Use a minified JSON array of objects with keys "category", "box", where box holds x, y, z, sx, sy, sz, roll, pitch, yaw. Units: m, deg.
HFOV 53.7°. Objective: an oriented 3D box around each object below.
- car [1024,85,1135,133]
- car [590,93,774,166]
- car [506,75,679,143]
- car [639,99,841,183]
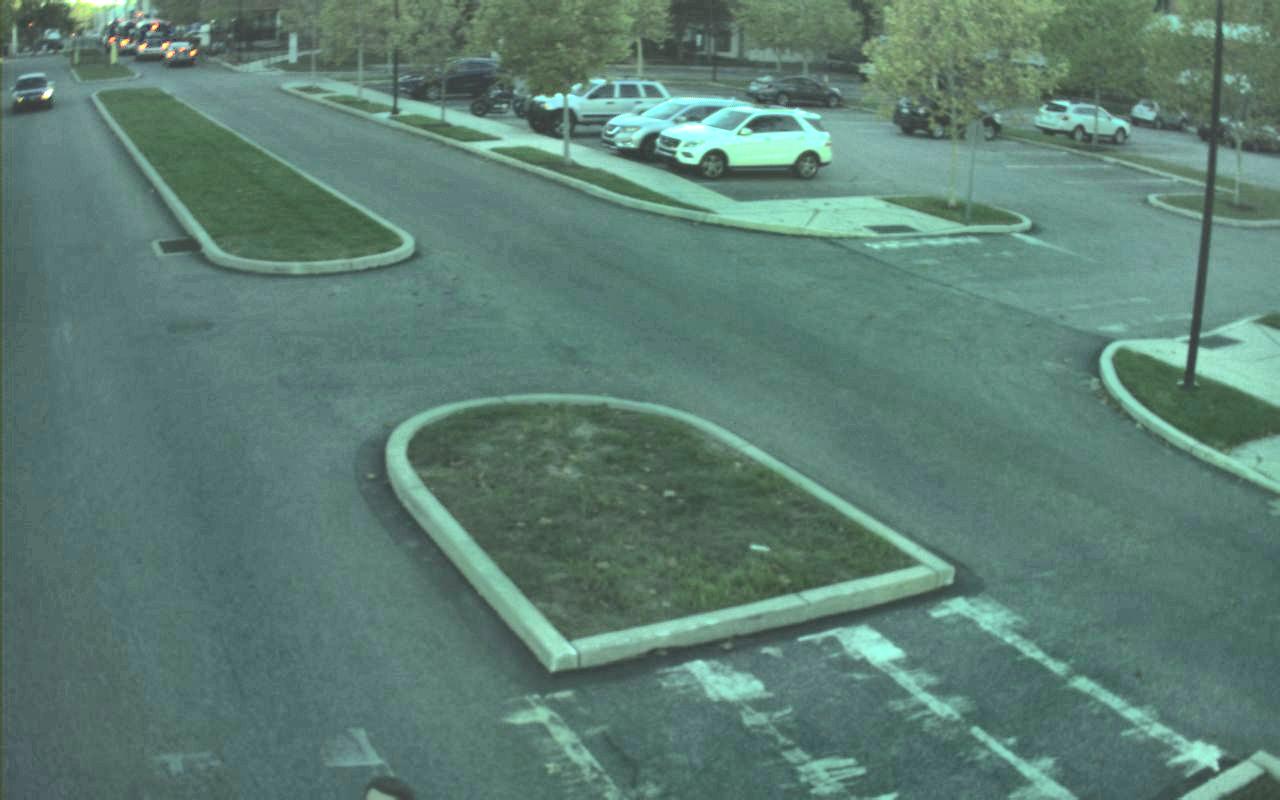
[{"category":"car","box":[18.160,-11.906,48.608,4.807,1.770,2.044,-9,17,-25]},{"category":"car","box":[1.157,-7.373,33.764,4.633,1.674,2.000,-10,18,-27]},{"category":"car","box":[-1.440,-8.930,37.966,4.867,1.802,2.069,-9,17,-25]},{"category":"car","box":[2.594,-6.674,31.776,4.867,1.809,2.060,-10,18,-29]}]
